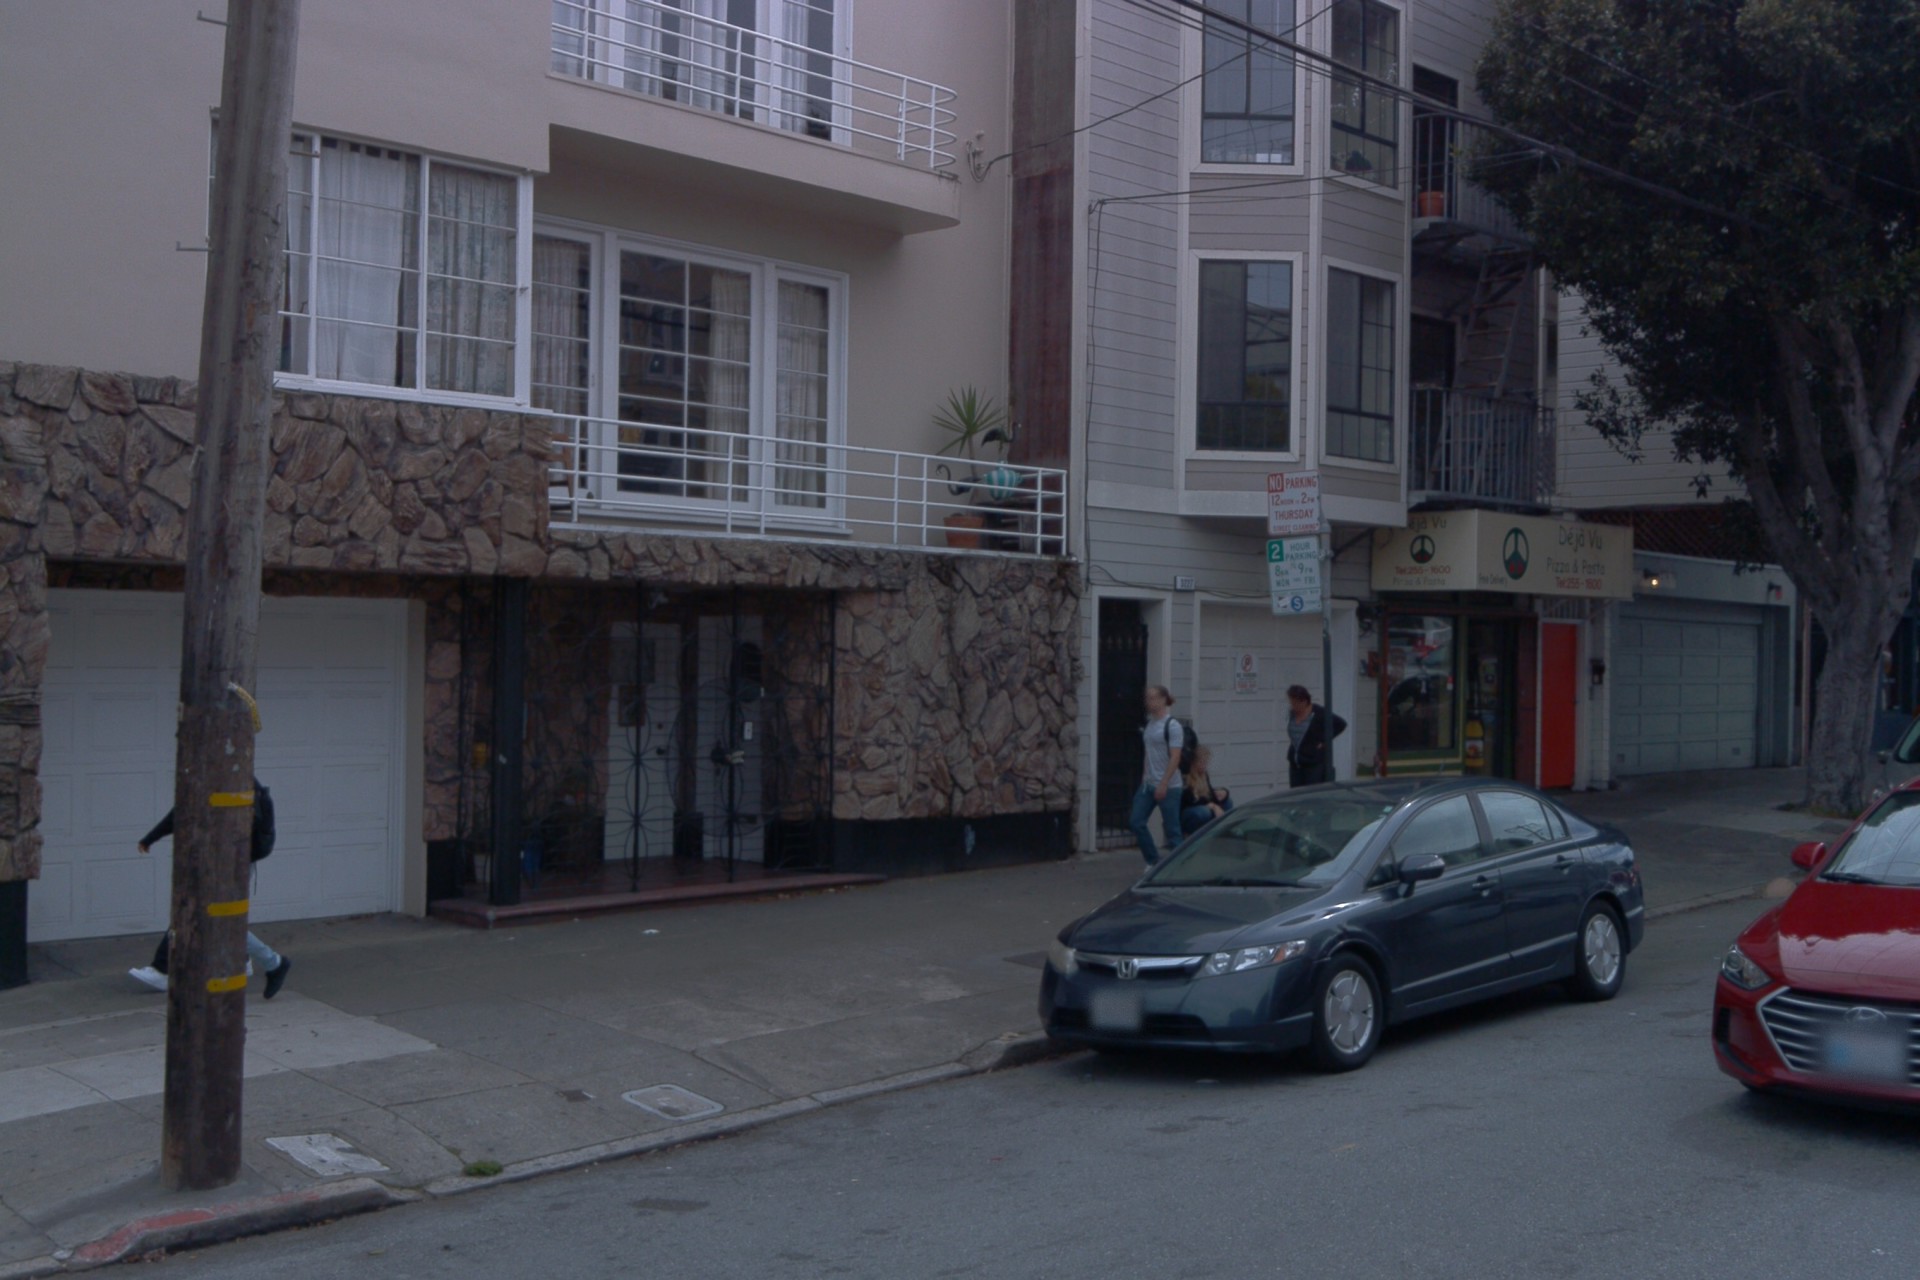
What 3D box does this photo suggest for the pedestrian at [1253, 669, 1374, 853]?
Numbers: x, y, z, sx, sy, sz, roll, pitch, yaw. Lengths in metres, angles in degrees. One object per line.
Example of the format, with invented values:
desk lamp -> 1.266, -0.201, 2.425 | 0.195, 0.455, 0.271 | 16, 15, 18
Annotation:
pedestrian -> 3.276, 1.100, 19.148 | 0.606, 1.620, 0.927 | -1, 1, -41

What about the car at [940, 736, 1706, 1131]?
car -> 2.247, 1.473, 11.908 | 4.532, 1.530, 2.106 | -1, 1, -44

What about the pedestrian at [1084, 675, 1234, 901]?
pedestrian -> 1.628, 1.184, 16.933 | 0.940, 1.750, 0.794 | -1, 1, -30

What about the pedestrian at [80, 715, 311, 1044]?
pedestrian -> -4.231, 1.285, 11.447 | 1.037, 1.673, 0.608 | -1, 1, -43

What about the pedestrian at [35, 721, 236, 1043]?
pedestrian -> -4.740, 1.353, 11.874 | 0.866, 1.706, 0.708 | -1, 1, -43

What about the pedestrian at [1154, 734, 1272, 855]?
pedestrian -> 2.336, 1.412, 19.070 | 0.723, 1.010, 0.815 | -1, 1, -44
